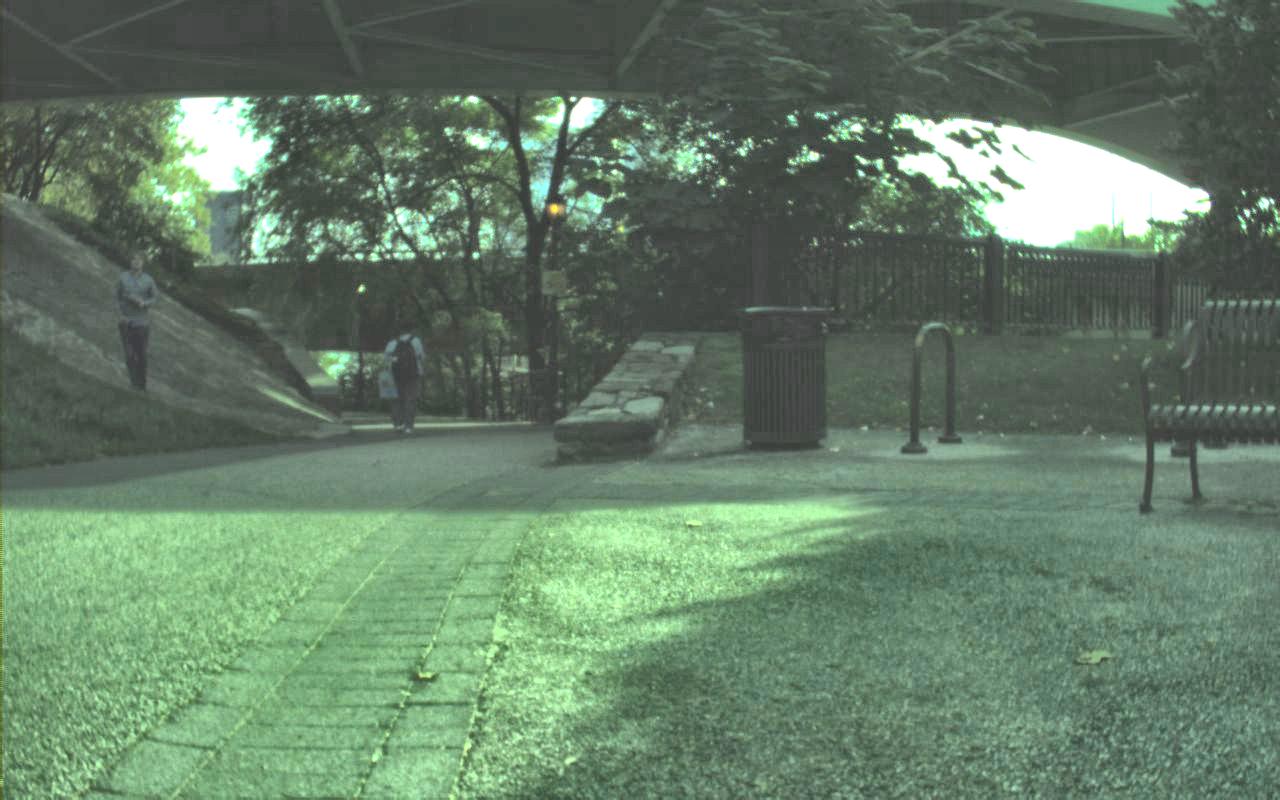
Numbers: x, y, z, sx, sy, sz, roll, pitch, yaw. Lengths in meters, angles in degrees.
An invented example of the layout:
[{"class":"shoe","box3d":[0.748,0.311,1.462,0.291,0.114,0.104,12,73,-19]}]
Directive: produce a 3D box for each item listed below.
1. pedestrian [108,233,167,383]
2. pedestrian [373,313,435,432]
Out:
[{"class":"pedestrian","box3d":[-6.410,-1.120,14.881,0.746,1.863,0.723,0,0,-24]},{"class":"pedestrian","box3d":[-3.482,-0.402,18.373,0.894,1.710,0.901,0,0,-10]}]
